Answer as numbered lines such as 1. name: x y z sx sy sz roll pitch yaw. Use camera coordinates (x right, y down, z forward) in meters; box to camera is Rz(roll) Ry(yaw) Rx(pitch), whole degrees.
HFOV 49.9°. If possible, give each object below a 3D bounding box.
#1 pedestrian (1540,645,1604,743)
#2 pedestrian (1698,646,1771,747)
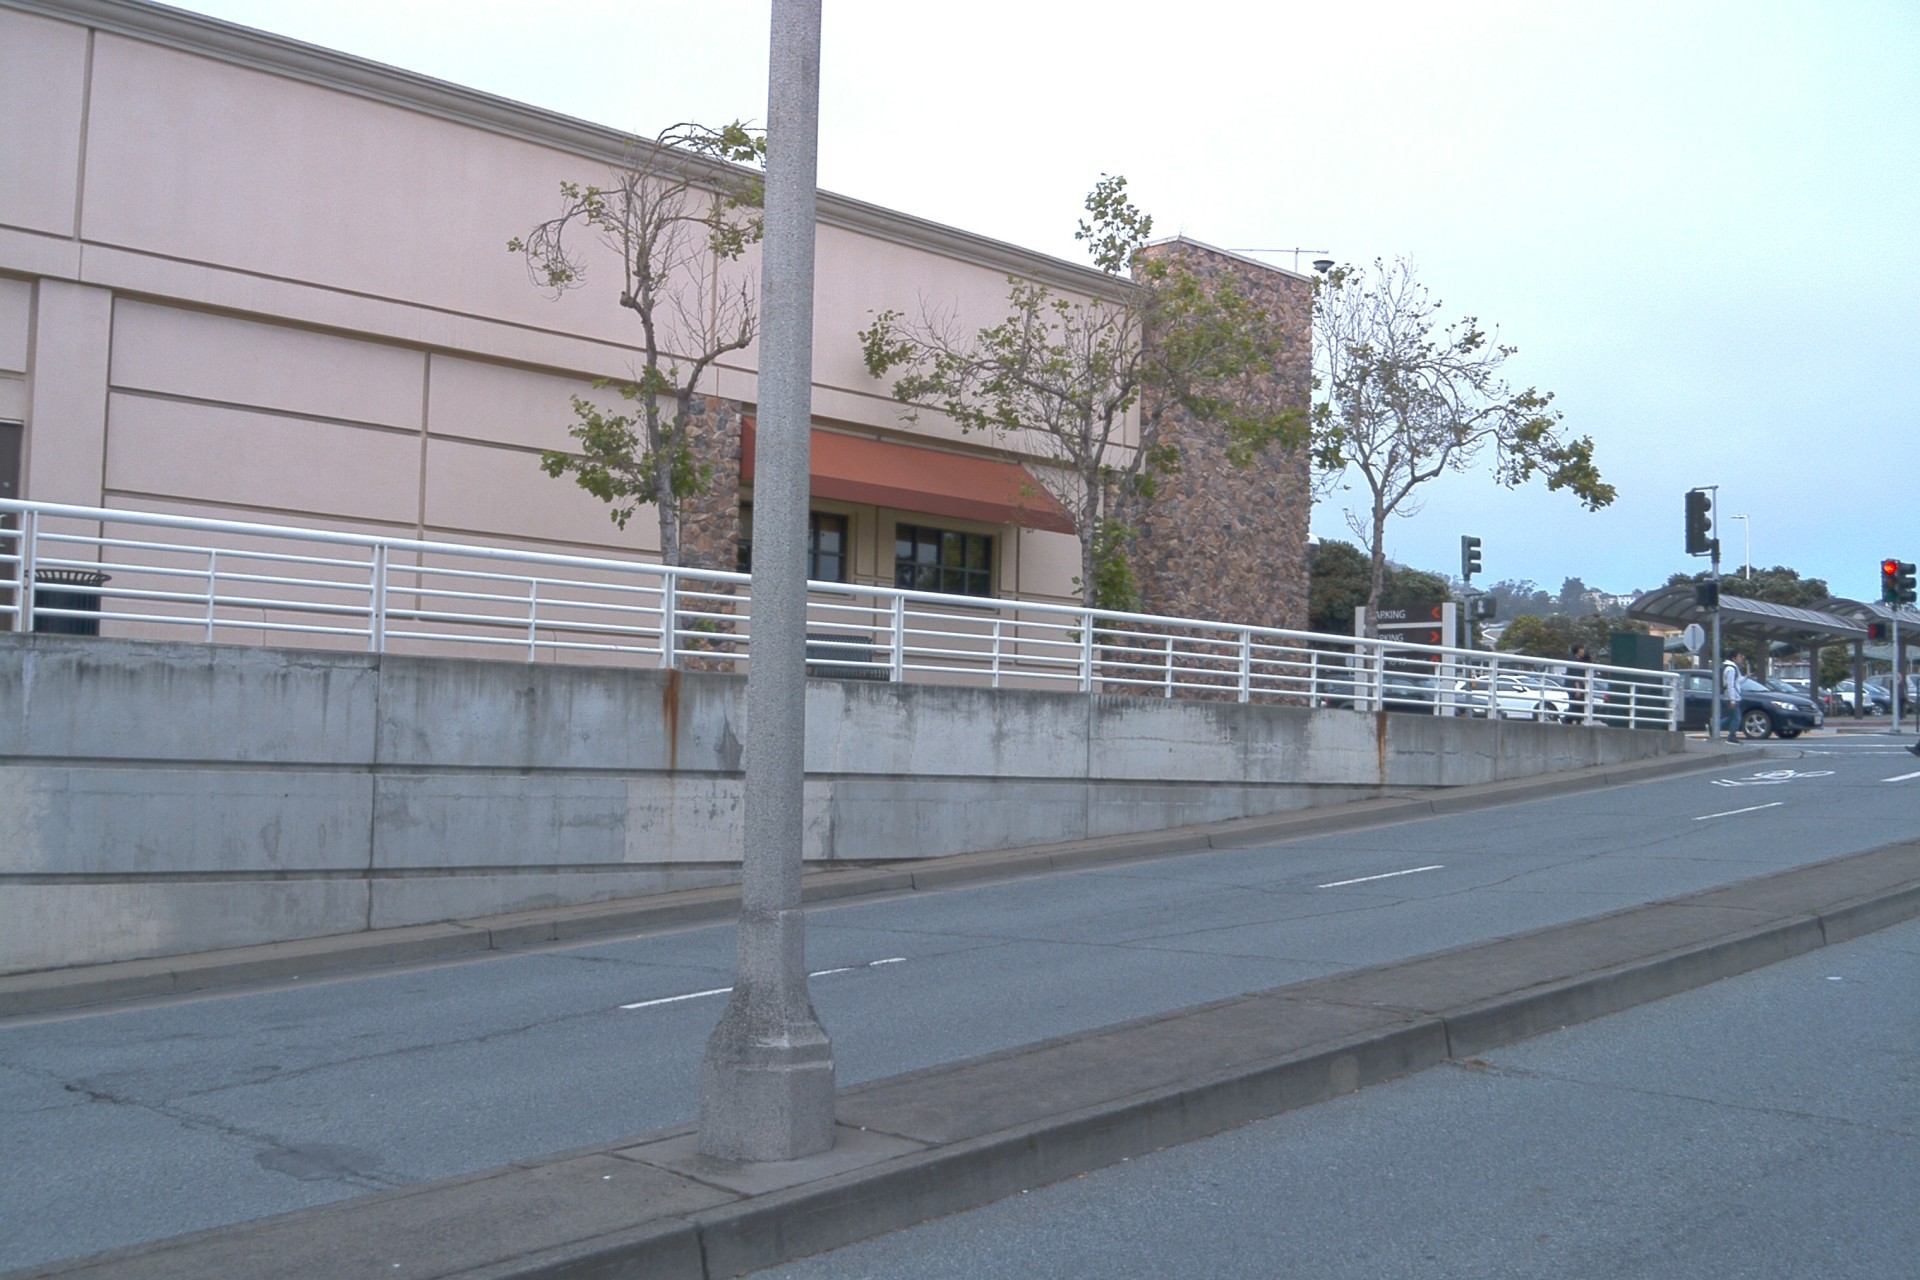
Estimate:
1. pedestrian: 10.430 0.910 35.174 0.993 1.650 0.667 0 1 12
2. pedestrian: 13.145 0.946 35.016 1.049 1.670 0.928 0 1 28
